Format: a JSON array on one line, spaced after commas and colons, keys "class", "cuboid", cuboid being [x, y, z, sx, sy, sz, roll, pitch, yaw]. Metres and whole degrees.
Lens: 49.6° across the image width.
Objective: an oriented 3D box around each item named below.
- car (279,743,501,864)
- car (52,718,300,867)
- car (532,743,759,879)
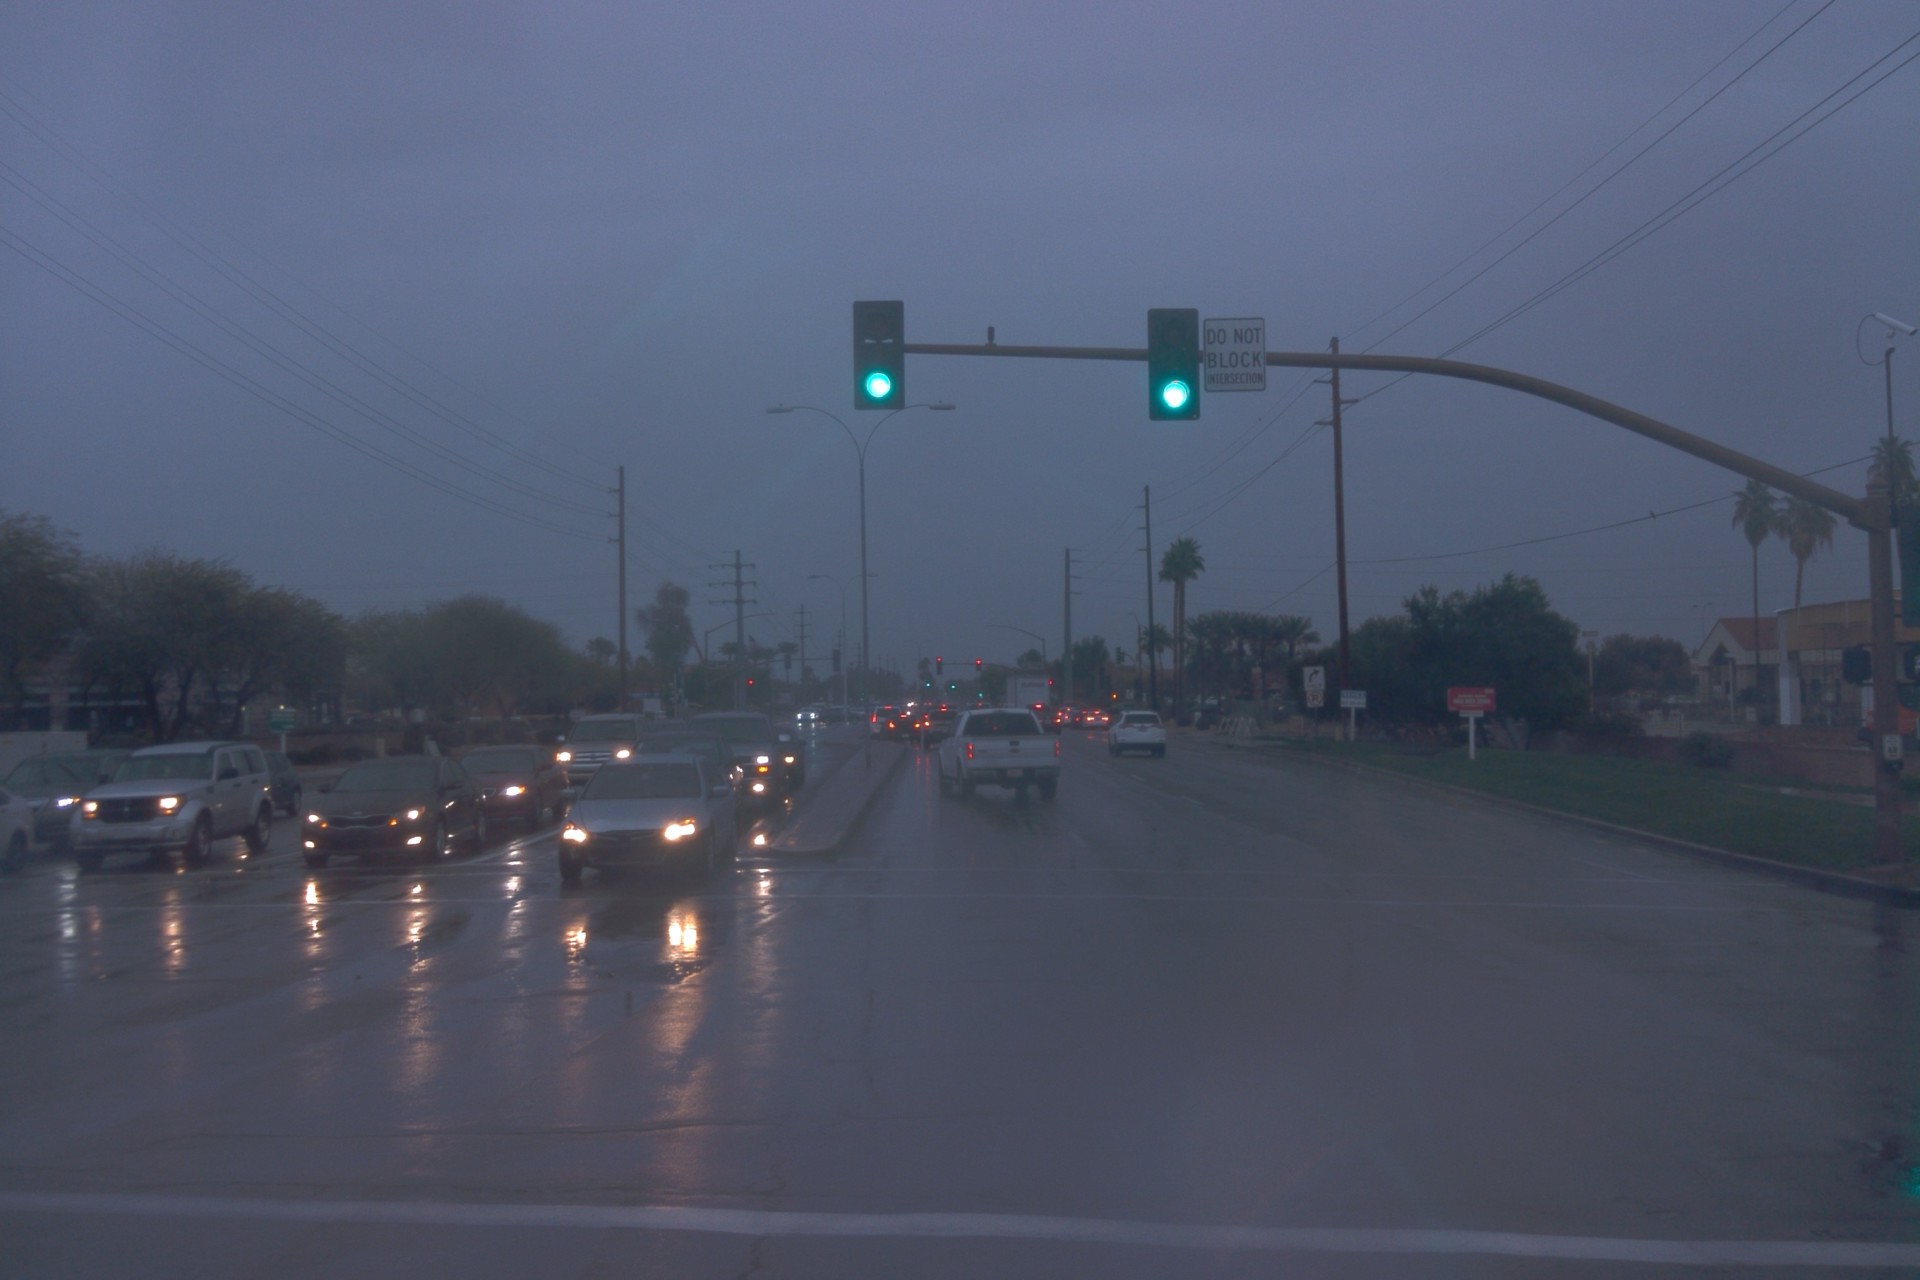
[{"class": "car", "cuboid": [-8.042, 2.281, 29.788, 2.042, 1.440, 4.763, 0, -1, -2]}, {"class": "car", "cuboid": [-11.742, 2.230, 31.472, 2.052, 2.020, 4.497, 0, -1, 0]}, {"class": "car", "cuboid": [-3.815, 2.074, 26.050, 2.102, 1.410, 4.605, 0, -1, 1]}]
